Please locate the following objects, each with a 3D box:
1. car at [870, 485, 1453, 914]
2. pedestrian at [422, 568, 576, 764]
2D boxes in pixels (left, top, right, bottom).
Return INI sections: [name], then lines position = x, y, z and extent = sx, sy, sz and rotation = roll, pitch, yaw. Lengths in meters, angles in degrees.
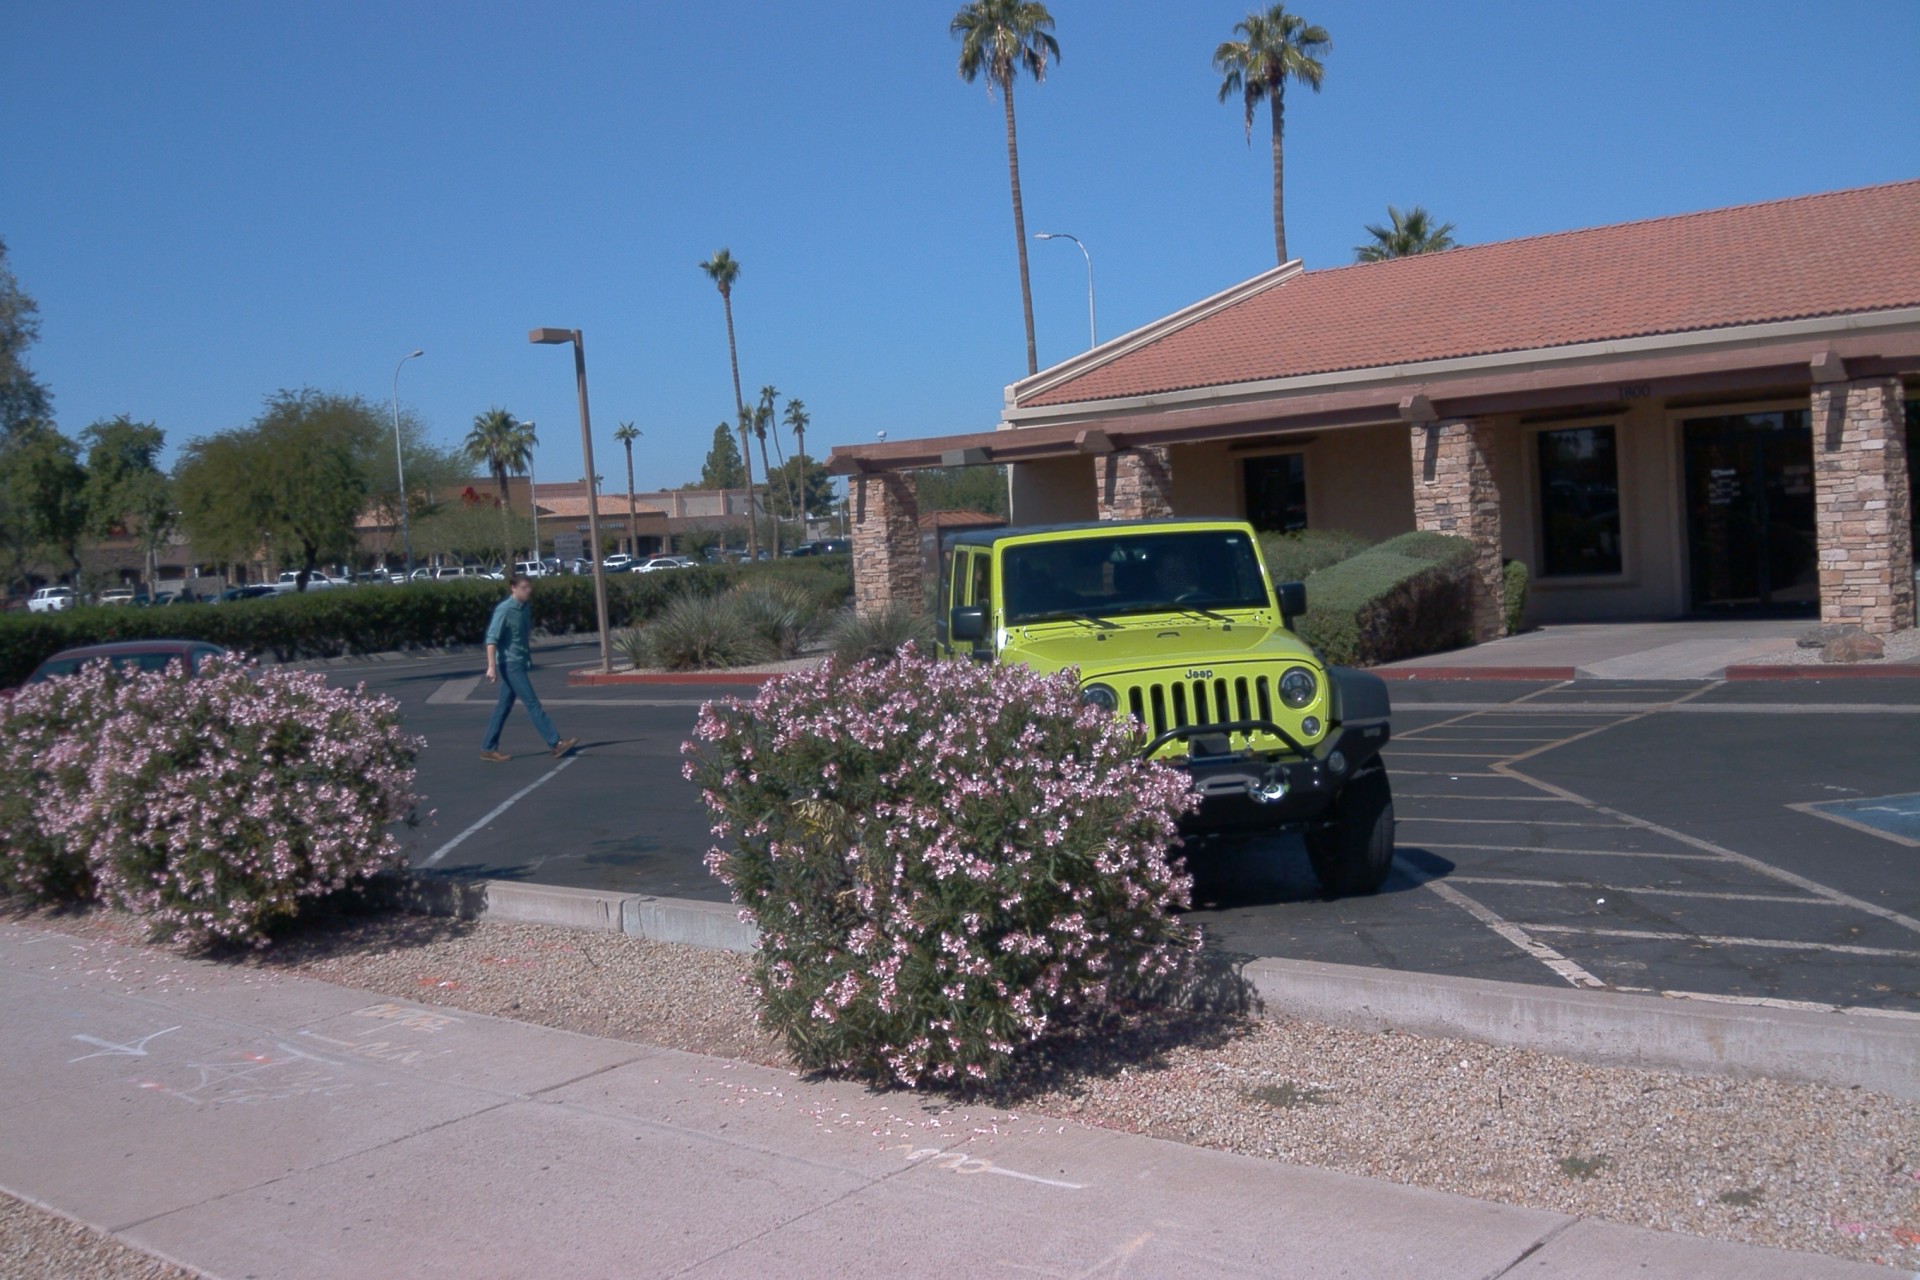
[car]
position = 0.794, 0.288, 11.398
extent = 2.132, 1.832, 4.714
rotation = -1, -1, -8
[pedestrian]
position = -4.357, 0.248, 19.752
extent = 1.175, 1.800, 0.973
rotation = -1, -1, 4
